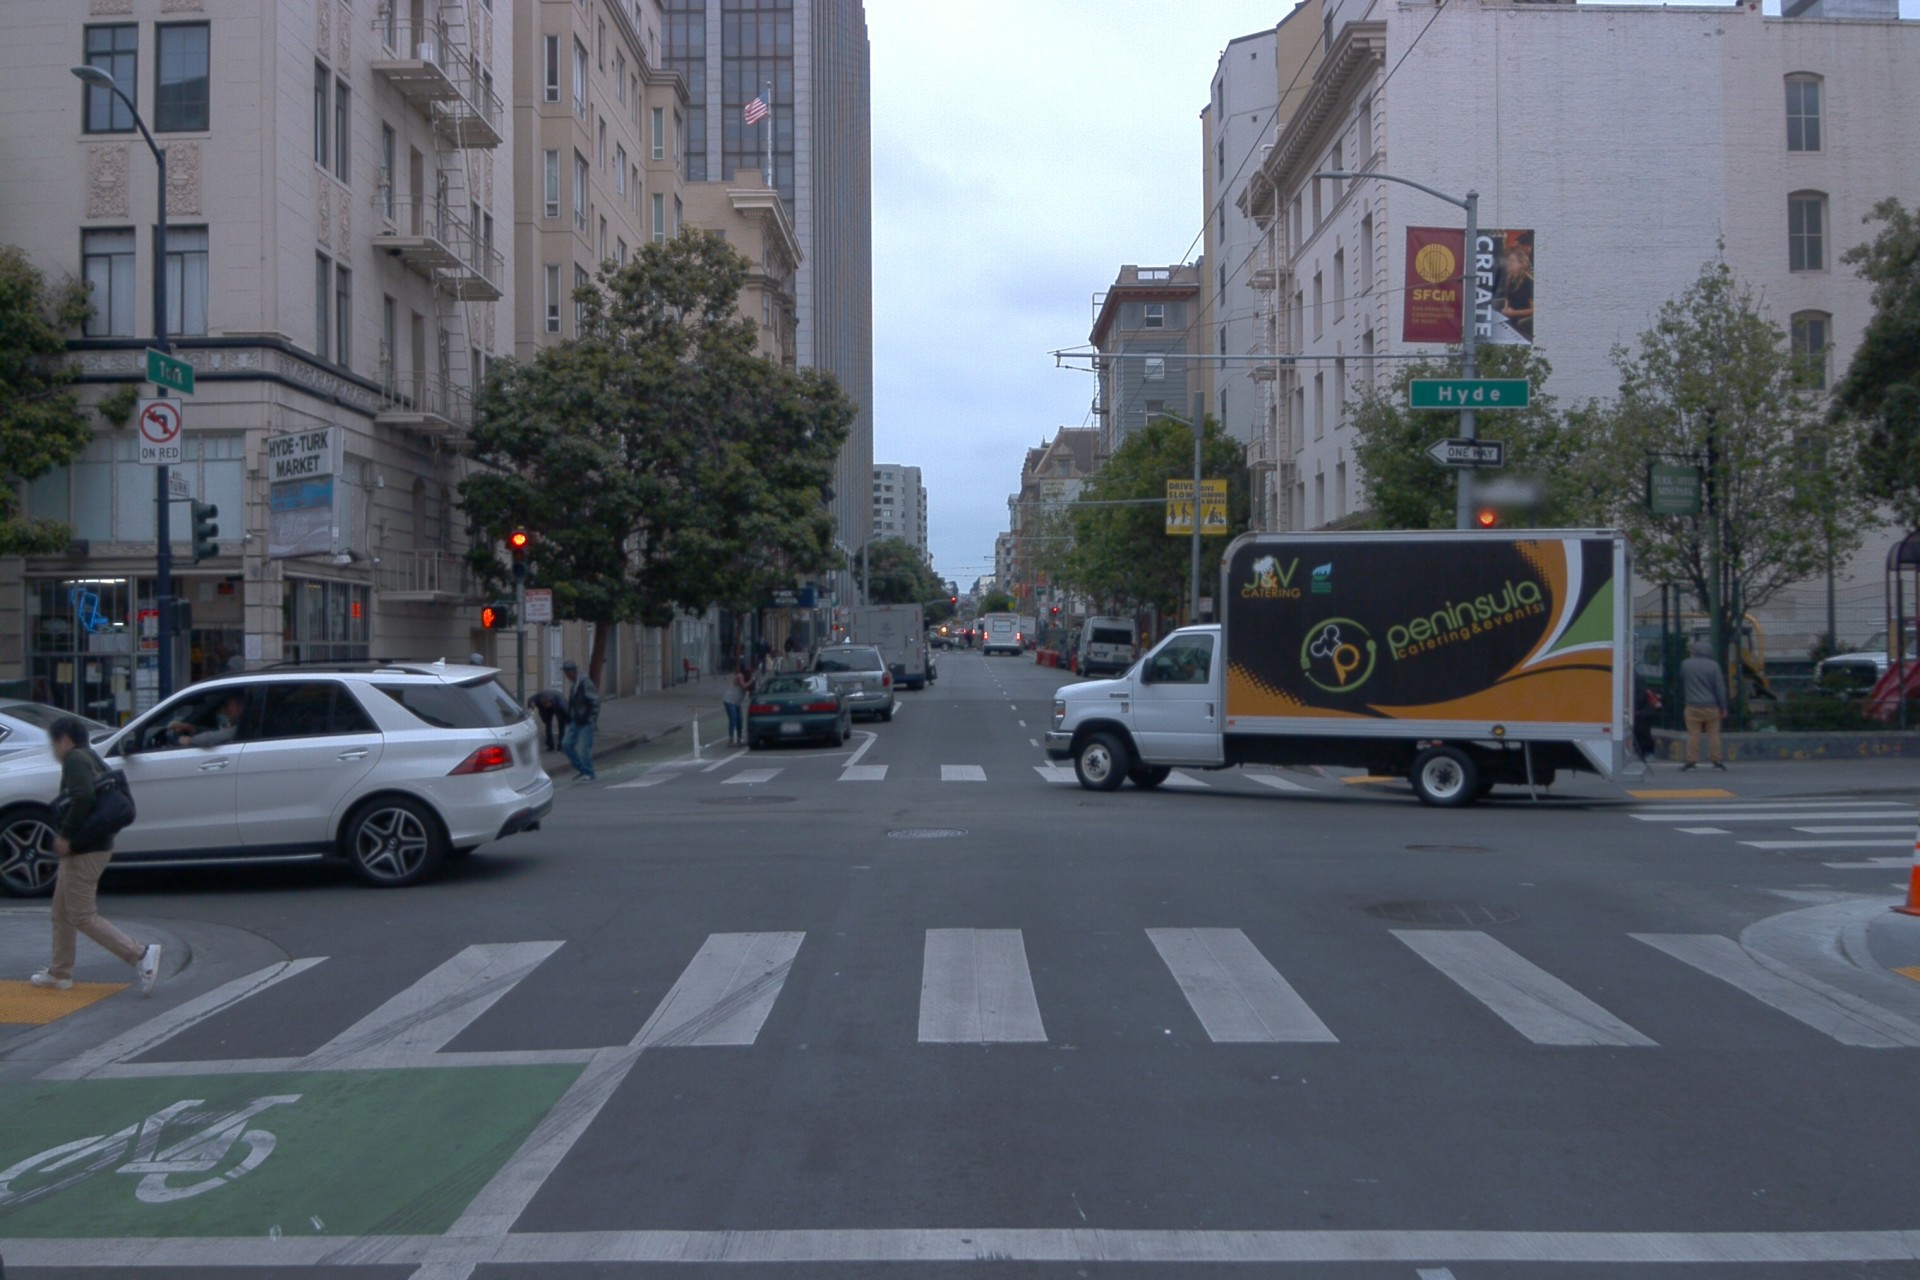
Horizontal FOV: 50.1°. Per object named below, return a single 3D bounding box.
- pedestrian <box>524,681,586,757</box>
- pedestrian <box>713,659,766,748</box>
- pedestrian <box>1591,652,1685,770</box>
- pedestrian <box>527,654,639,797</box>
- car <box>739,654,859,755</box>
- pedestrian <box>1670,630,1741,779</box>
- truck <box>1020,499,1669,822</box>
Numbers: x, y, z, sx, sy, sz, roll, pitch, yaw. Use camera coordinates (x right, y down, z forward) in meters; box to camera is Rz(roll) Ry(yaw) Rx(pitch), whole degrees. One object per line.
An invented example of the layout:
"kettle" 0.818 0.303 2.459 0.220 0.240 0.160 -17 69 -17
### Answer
"pedestrian" -7.177 1.387 36.411 1.026 1.270 1.025 -1 1 -14
"pedestrian" -4.019 1.151 37.529 0.695 1.580 0.680 -1 1 -37
"pedestrian" 10.215 1.055 31.006 0.944 1.720 0.964 -1 1 -22
"pedestrian" -5.496 1.212 29.960 1.092 1.990 1.263 -1 1 -42
"car" -2.864 1.123 37.336 1.721 1.630 3.892 0 1 2
"pedestrian" 10.262 0.870 28.330 0.834 2.010 0.796 0 1 14
"truck" 4.574 0.194 24.414 7.172 3.420 2.907 0 1 21
